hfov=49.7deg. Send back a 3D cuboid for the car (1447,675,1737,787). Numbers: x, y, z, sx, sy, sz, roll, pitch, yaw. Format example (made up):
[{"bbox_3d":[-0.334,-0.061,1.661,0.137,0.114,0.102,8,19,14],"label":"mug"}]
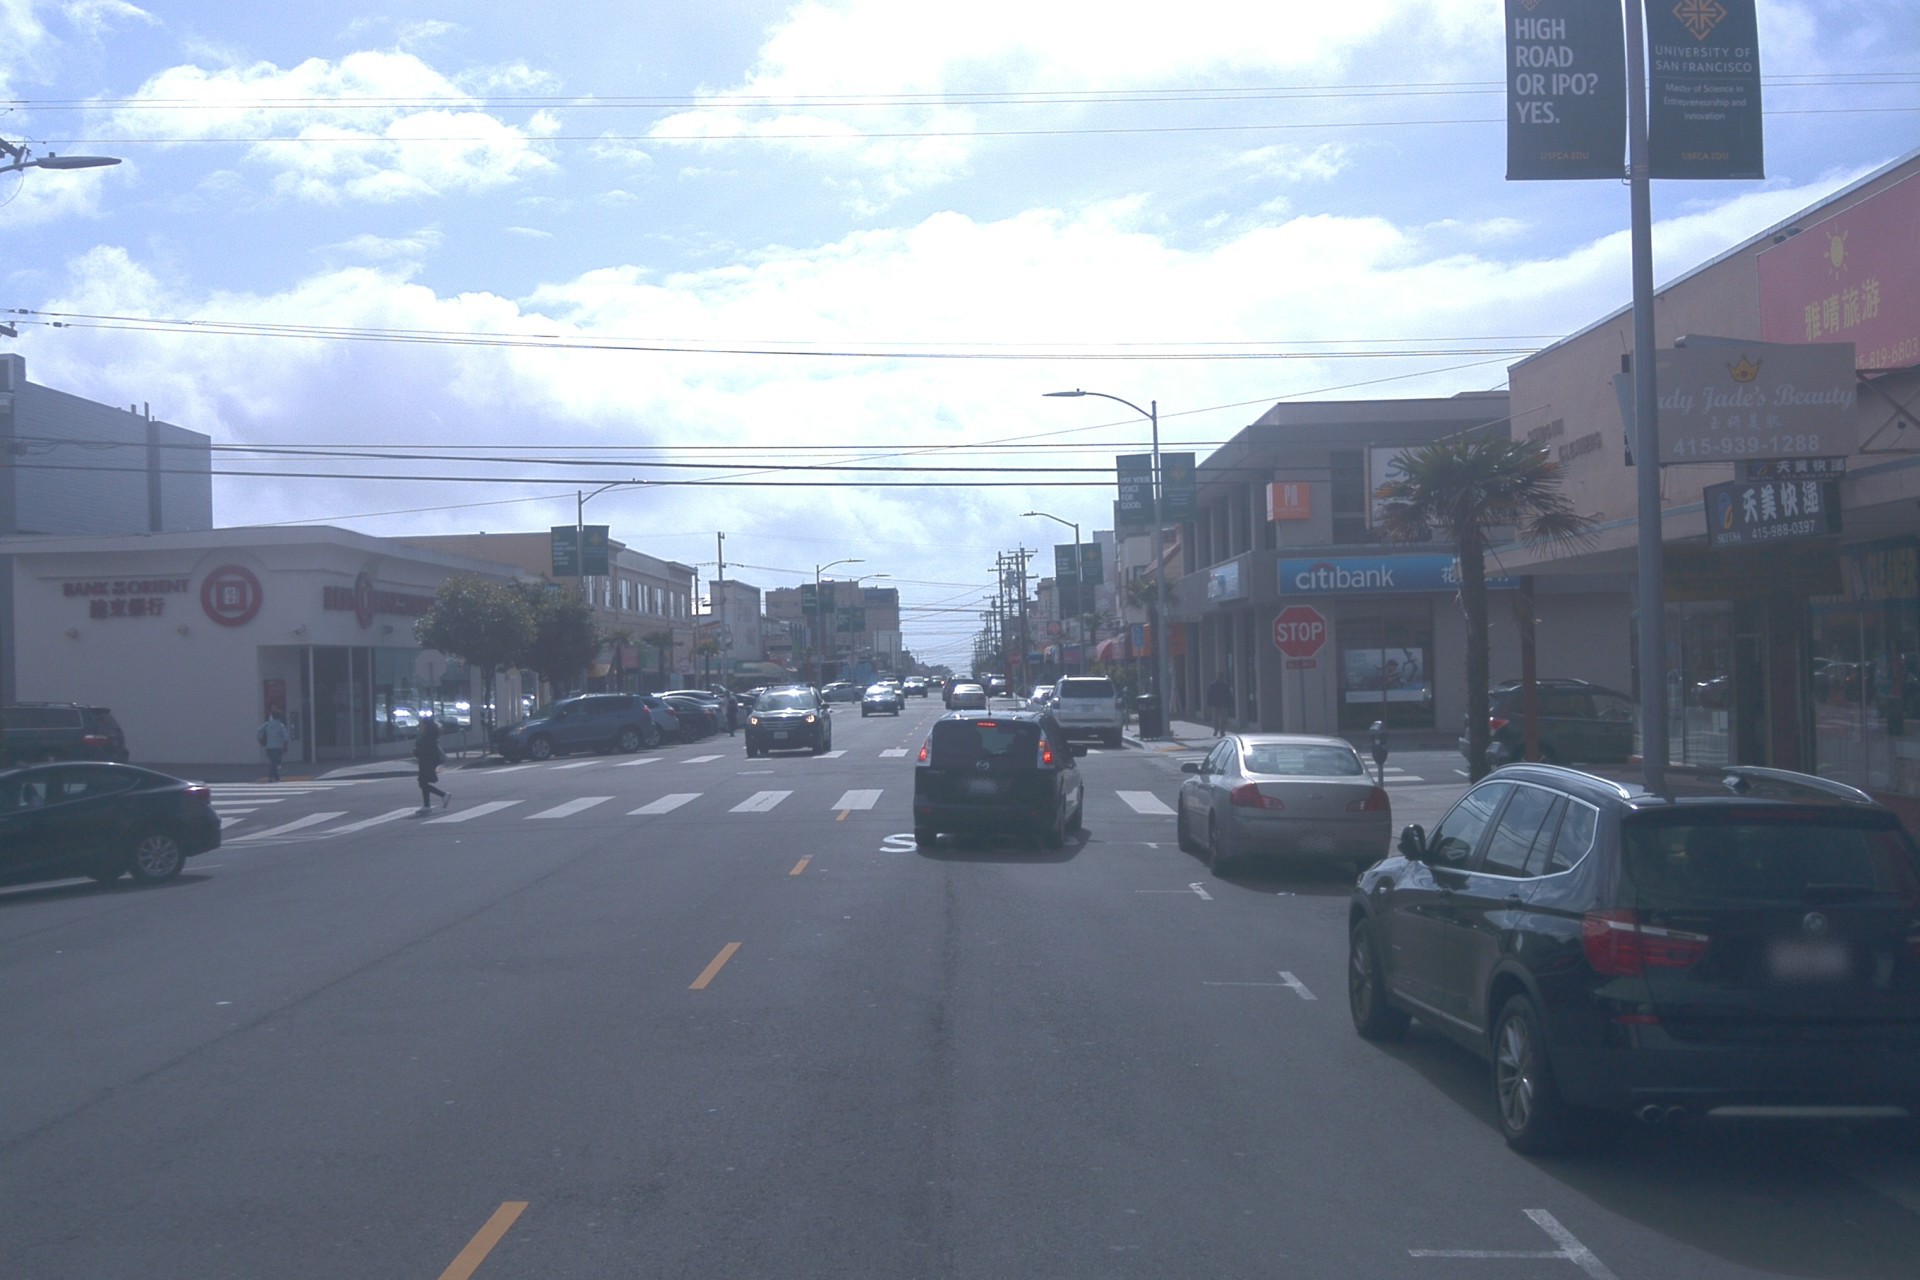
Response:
[{"bbox_3d":[10.944,1.557,36.124,4.417,1.877,1.991,0,-1,-1],"label":"car"}]

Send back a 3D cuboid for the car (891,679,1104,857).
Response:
[{"bbox_3d":[0.574,1.479,25.656,2.096,1.972,4.572,0,-1,8],"label":"car"}]

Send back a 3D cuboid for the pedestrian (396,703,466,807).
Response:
[{"bbox_3d":[-8.614,1.858,33.814,0.935,1.653,0.998,0,-1,-4],"label":"pedestrian"}]

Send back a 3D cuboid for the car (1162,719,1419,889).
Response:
[{"bbox_3d":[3.441,1.683,22.531,1.988,1.532,4.724,0,-1,-1],"label":"car"}]
